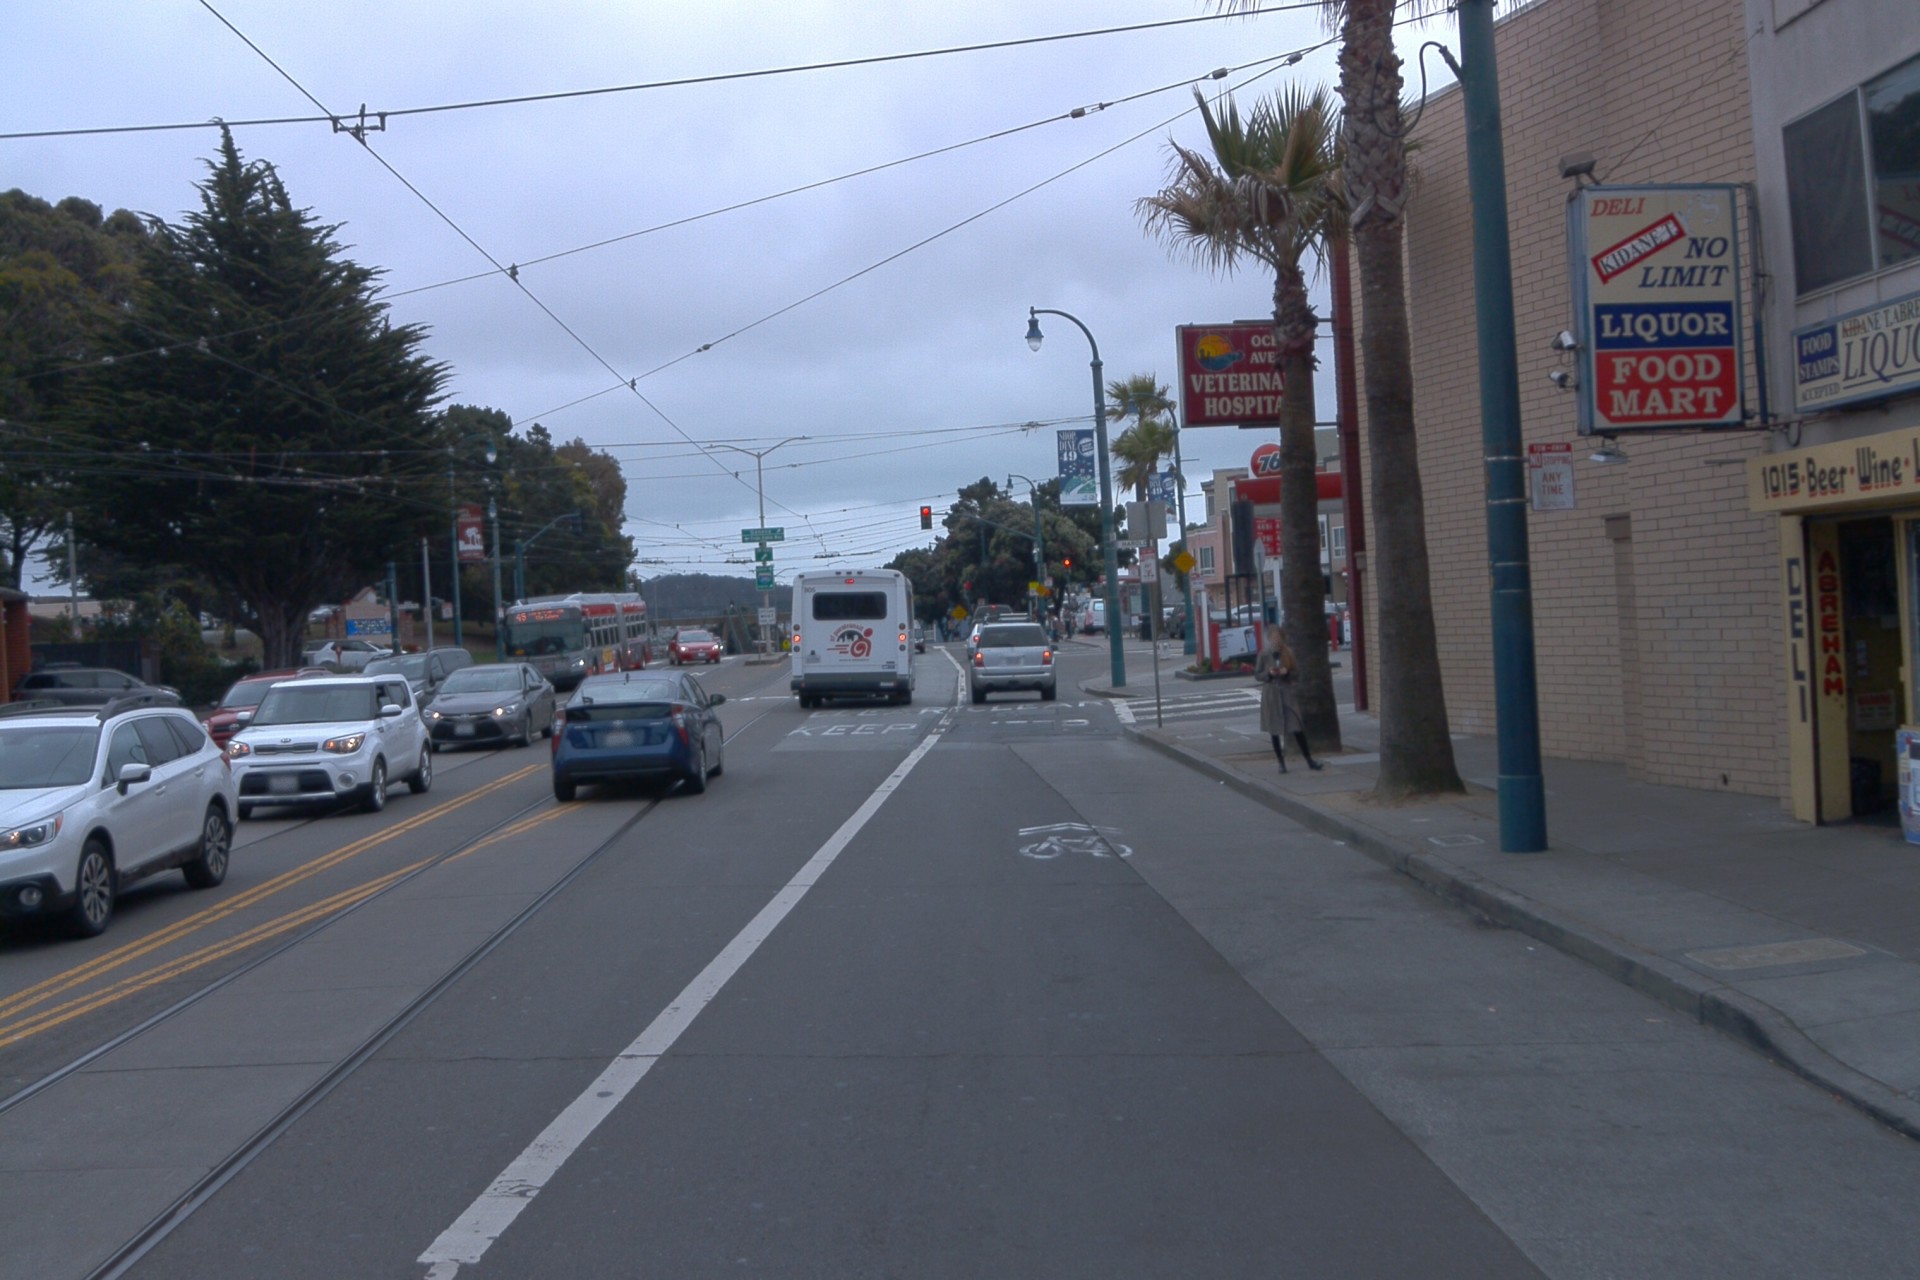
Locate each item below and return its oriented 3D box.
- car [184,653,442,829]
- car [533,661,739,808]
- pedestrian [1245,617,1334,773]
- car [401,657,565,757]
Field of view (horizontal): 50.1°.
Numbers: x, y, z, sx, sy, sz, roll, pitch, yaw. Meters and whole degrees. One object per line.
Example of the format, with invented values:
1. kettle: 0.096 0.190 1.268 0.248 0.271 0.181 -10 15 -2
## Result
1. car: -7.740 1.141 25.038 1.997 1.850 4.155 0 1 -3
2. car: -3.887 1.090 25.331 1.971 1.540 4.261 0 1 -2
3. pedestrian: 3.690 0.601 23.089 0.844 1.710 0.722 0 1 -3
4. car: -8.476 1.150 36.960 2.068 1.540 4.919 0 1 -3
